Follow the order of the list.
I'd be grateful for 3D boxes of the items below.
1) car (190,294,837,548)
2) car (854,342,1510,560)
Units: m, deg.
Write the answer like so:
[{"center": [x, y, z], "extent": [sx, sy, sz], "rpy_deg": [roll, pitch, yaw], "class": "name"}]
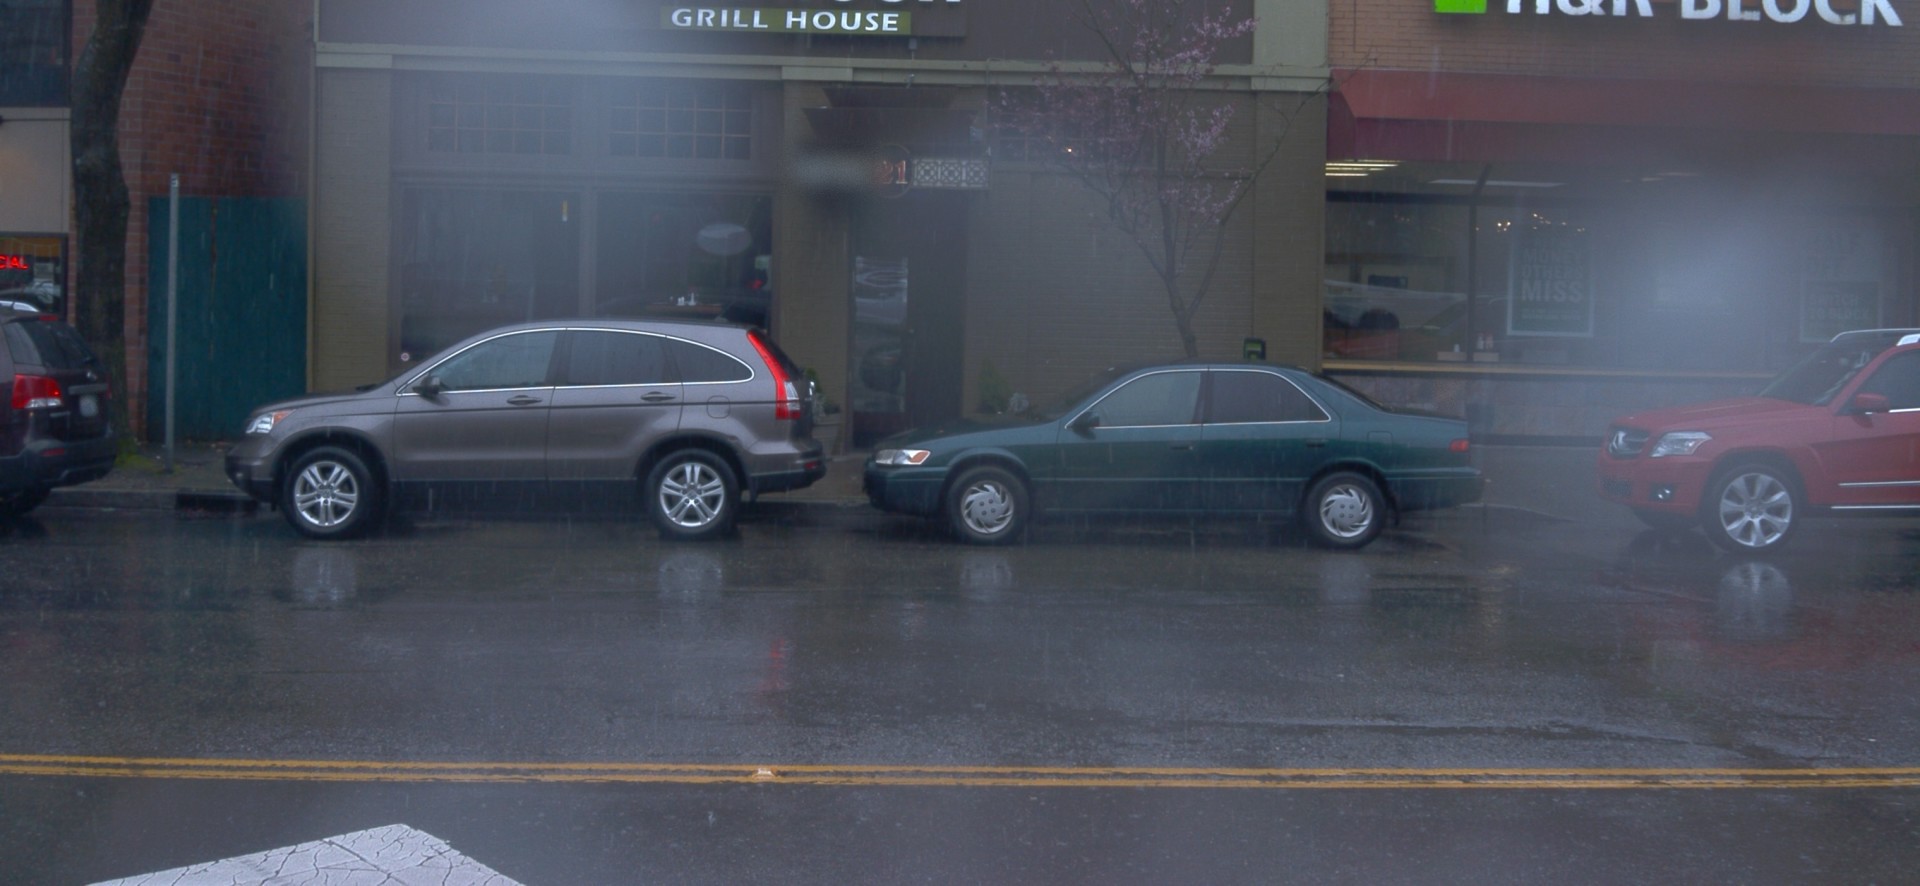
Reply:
[{"center": [-3.280, -0.218, 15.798], "extent": [4.605, 1.724, 1.918], "rpy_deg": [0, 4, -5], "class": "car"}, {"center": [1.594, 0.016, 15.965], "extent": [4.796, 1.414, 1.988], "rpy_deg": [1, 5, -2], "class": "car"}]
